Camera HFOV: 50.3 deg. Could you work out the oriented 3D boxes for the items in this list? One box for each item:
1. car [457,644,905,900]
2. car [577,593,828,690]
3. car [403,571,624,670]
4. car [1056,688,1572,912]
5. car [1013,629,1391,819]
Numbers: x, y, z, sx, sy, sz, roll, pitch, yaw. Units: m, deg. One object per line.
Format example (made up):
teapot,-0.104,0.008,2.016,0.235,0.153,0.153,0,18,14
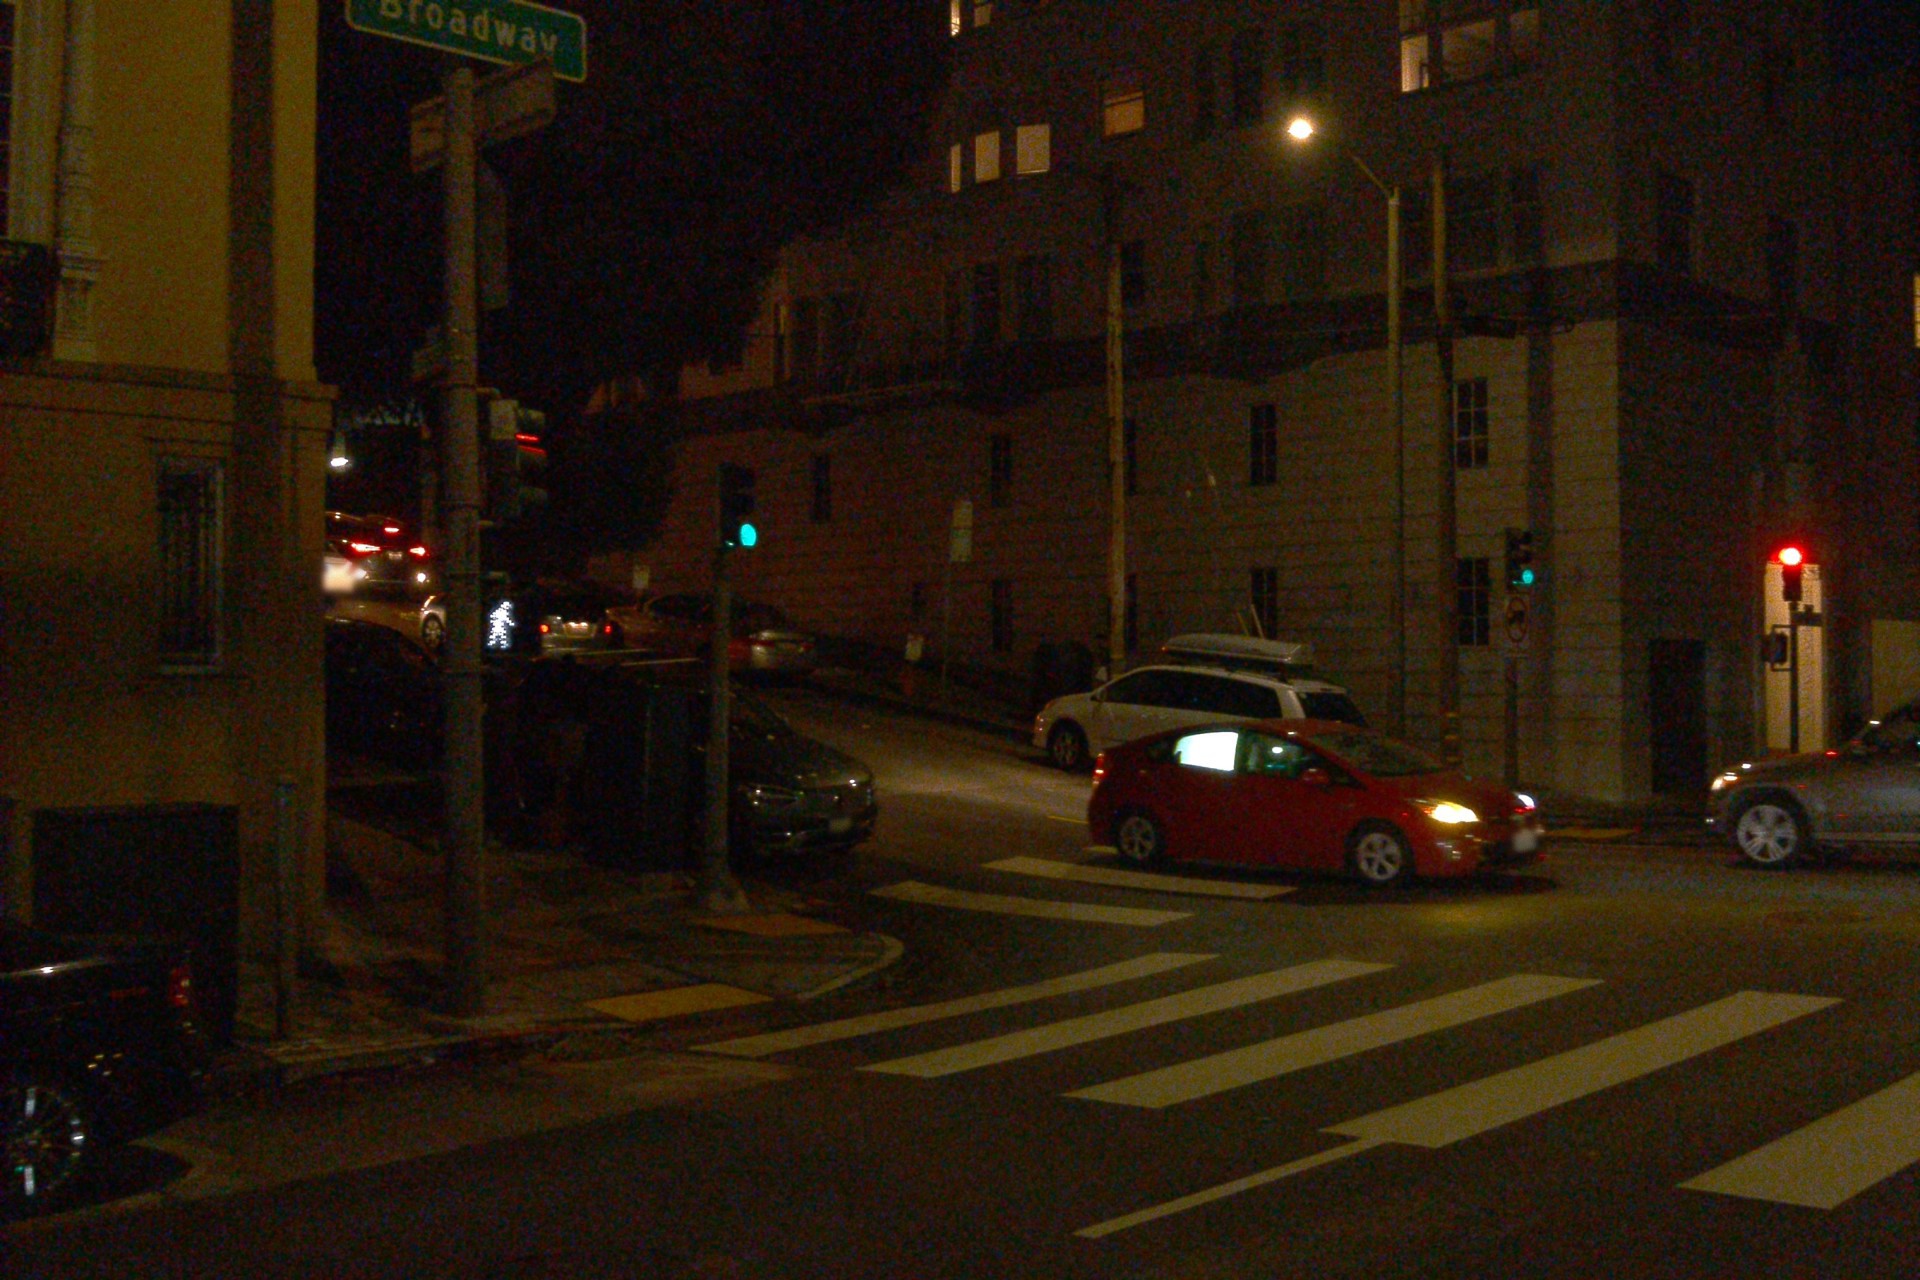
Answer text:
car,-3.023,1.227,21.385,2.195,2.290,4.784,0,1,-44
car,-4.638,-0.008,36.426,4.539,1.626,1.925,1,1,42
car,-7.610,-0.336,34.721,3.818,1.586,1.850,1,1,44
car,3.269,1.408,19.544,4.527,1.730,1.922,1,1,44
car,3.308,1.068,28.704,4.904,2.388,2.213,1,1,44
